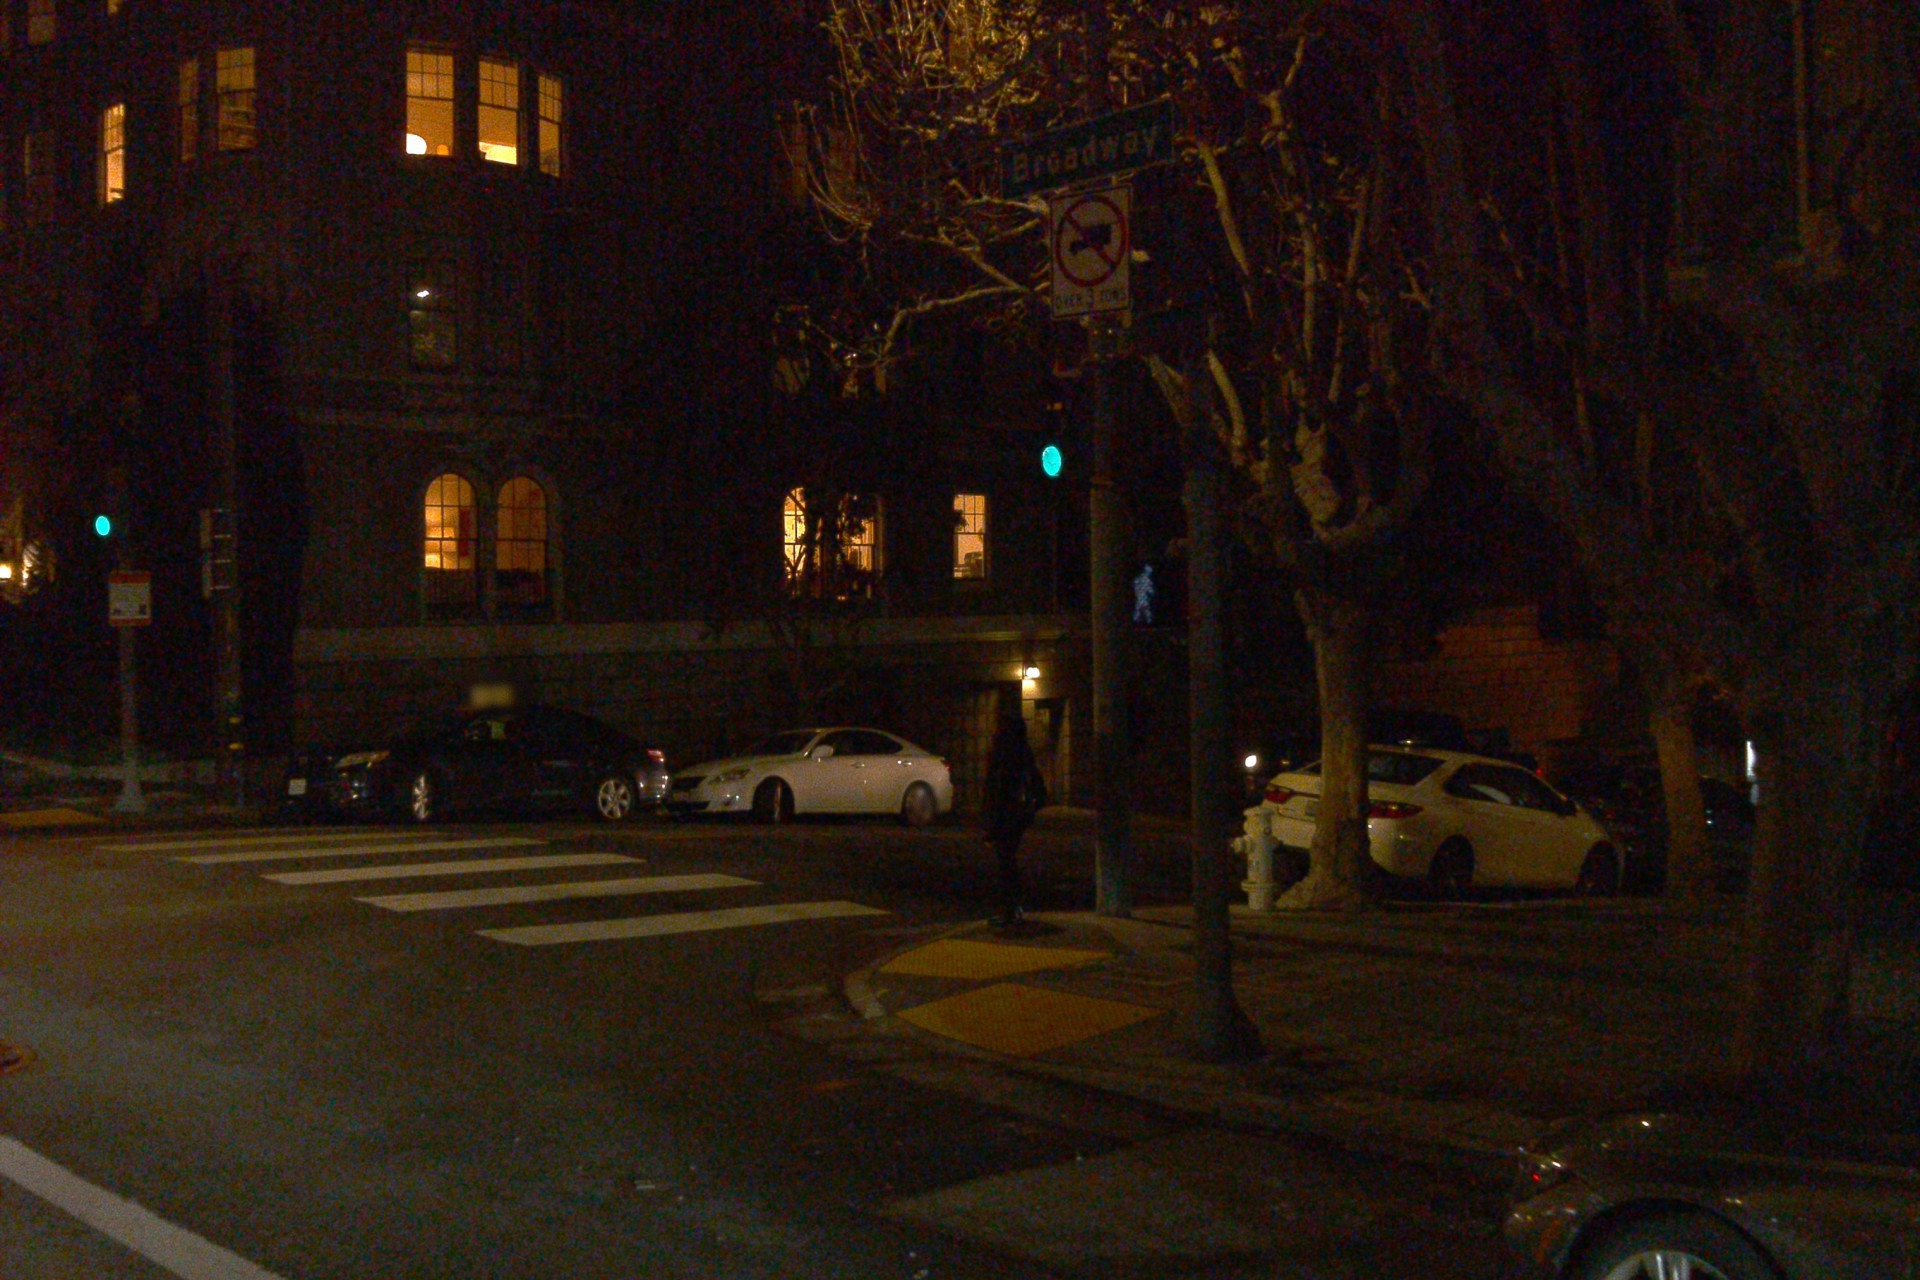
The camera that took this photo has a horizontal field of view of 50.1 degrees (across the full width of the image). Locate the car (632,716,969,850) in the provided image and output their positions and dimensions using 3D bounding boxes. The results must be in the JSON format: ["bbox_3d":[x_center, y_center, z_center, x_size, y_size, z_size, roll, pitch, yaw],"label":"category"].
[{"bbox_3d":[-2.085,1.869,27.925,1.919,1.482,4.488,1,0,42],"label":"car"}]

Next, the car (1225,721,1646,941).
[{"bbox_3d":[4.922,1.819,20.882,4.554,1.811,1.990,0,0,-44],"label":"car"}]

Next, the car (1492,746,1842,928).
[{"bbox_3d":[8.670,2.291,24.949,4.887,1.744,1.990,0,0,-44],"label":"car"}]

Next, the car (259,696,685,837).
[{"bbox_3d":[-5.620,1.401,24.120,1.838,1.362,4.644,1,0,42],"label":"car"}]

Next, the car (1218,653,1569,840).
[{"bbox_3d":[6.862,1.521,32.007,2.553,2.592,5.958,1,0,44],"label":"car"}]

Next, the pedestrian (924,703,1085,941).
[{"bbox_3d":[0.308,1.249,14.453,0.707,1.570,0.903,0,0,-38],"label":"pedestrian"}]
